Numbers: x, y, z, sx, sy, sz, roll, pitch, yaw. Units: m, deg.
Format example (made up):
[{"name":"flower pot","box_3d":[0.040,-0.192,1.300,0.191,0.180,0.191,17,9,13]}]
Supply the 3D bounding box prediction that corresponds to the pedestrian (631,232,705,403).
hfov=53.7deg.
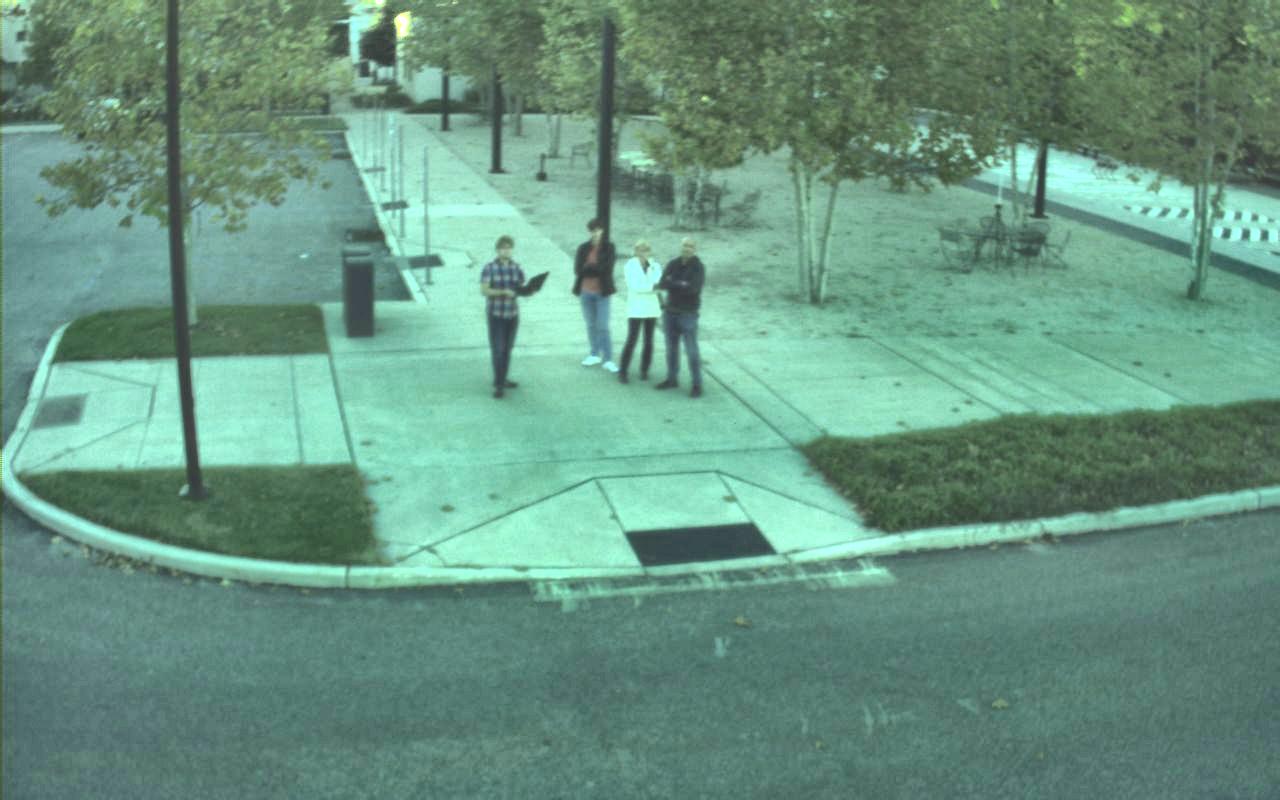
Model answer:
[{"name":"pedestrian","box_3d":[0.322,-0.965,14.645,0.789,1.833,0.771,-2,15,-2]}]

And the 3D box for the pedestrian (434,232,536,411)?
[{"name":"pedestrian","box_3d":[-1.784,-0.923,14.426,0.782,1.835,0.809,-14,19,-39]}]

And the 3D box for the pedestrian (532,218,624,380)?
[{"name":"pedestrian","box_3d":[-0.761,-1.281,15.656,0.788,1.822,0.775,10,18,35]}]
